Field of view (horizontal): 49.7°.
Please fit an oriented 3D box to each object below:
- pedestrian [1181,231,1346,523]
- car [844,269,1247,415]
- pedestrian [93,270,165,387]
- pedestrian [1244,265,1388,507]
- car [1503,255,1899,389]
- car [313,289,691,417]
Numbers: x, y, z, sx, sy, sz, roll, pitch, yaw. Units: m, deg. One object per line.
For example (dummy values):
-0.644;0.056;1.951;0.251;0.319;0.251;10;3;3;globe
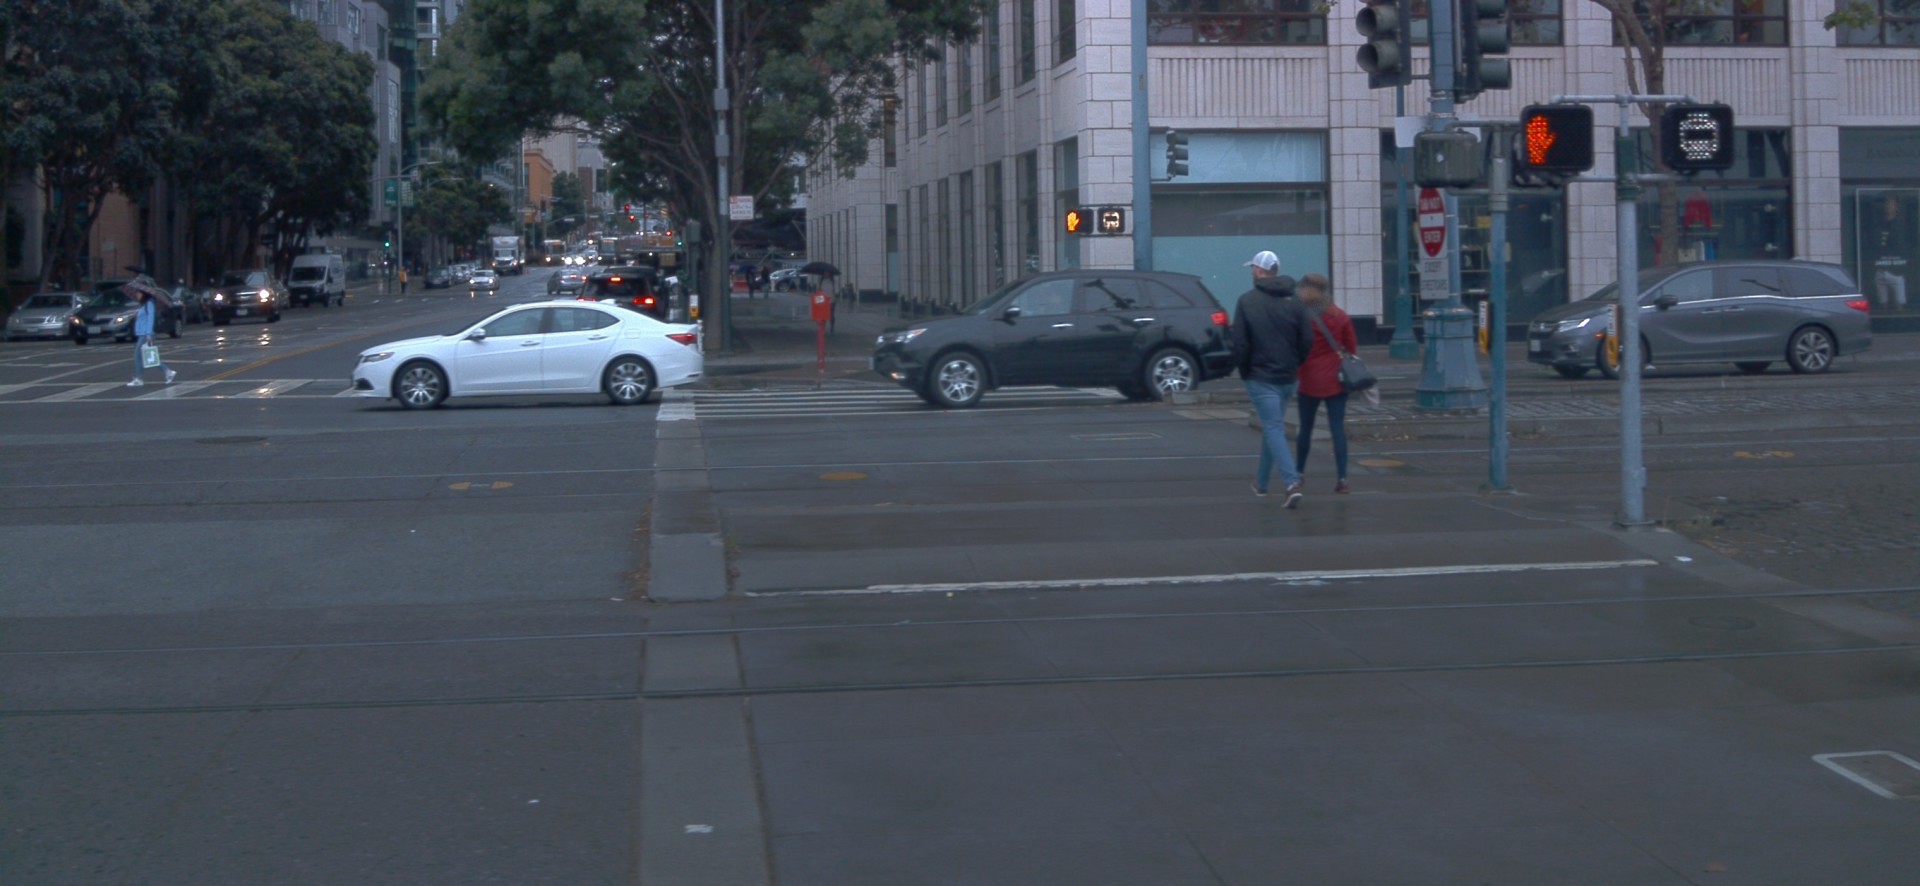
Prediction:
2.163;-0.520;14.920;0.825;1.999;1.183;0;2;-11;pedestrian
1.023;-1.339;26.406;4.792;1.706;2.180;-1;4;-9;car
-13.848;-1.926;34.544;1.069;1.869;1.089;-1;2;-24;pedestrian
2.707;-0.469;15.881;0.826;1.769;0.993;0;1;-8;pedestrian
10.950;-1.843;30.854;5.132;1.876;2.177;-1;4;-8;car
-6.162;-1.269;28.340;4.853;1.576;2.176;-1;4;-9;car
